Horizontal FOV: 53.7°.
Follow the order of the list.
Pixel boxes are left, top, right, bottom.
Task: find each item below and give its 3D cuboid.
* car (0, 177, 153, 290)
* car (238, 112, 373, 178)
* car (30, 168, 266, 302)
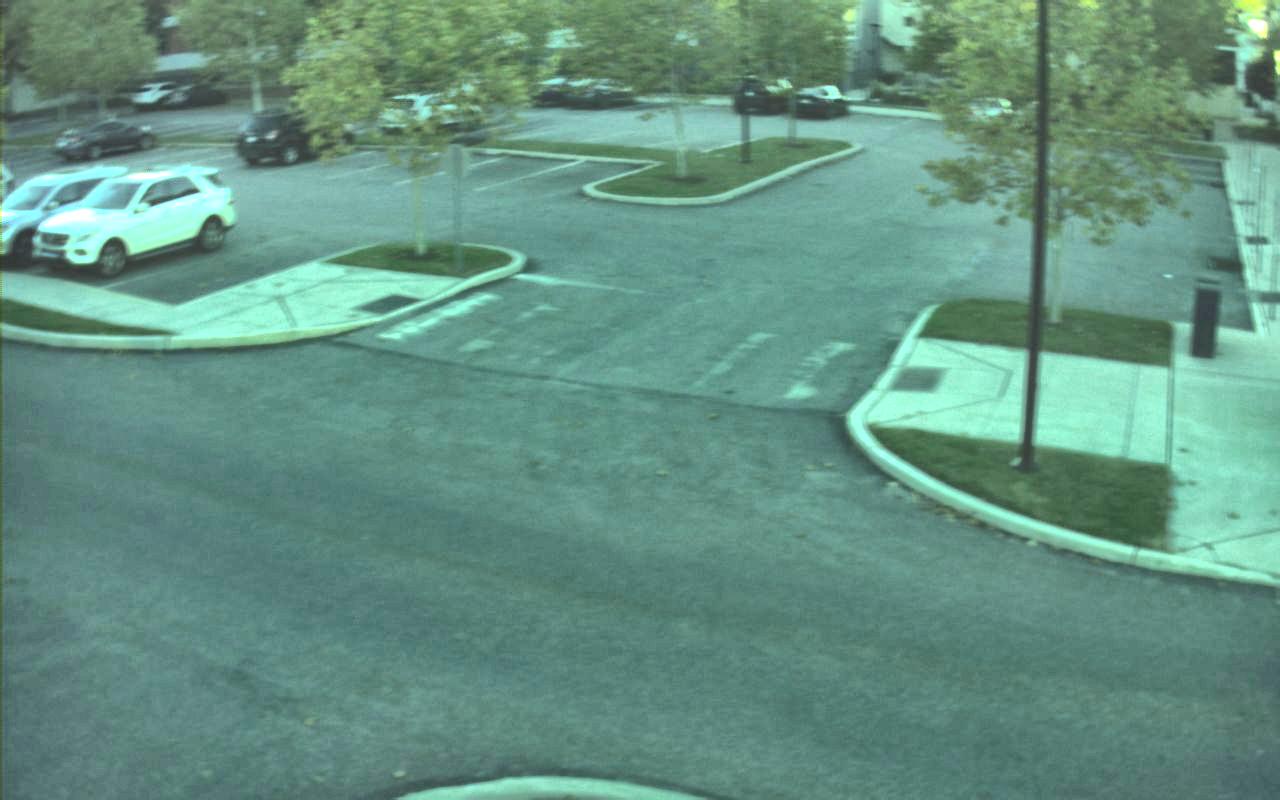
[{"bbox_3d":[-12.635,-3.558,24.100,1.948,1.597,4.543,7,18,27],"label":"car"},{"bbox_3d":[-10.734,-8.211,38.964,1.979,1.638,4.622,6,17,22],"label":"car"},{"bbox_3d":[-9.802,-3.351,23.448,2.043,1.836,4.853,6,17,24],"label":"car"}]
